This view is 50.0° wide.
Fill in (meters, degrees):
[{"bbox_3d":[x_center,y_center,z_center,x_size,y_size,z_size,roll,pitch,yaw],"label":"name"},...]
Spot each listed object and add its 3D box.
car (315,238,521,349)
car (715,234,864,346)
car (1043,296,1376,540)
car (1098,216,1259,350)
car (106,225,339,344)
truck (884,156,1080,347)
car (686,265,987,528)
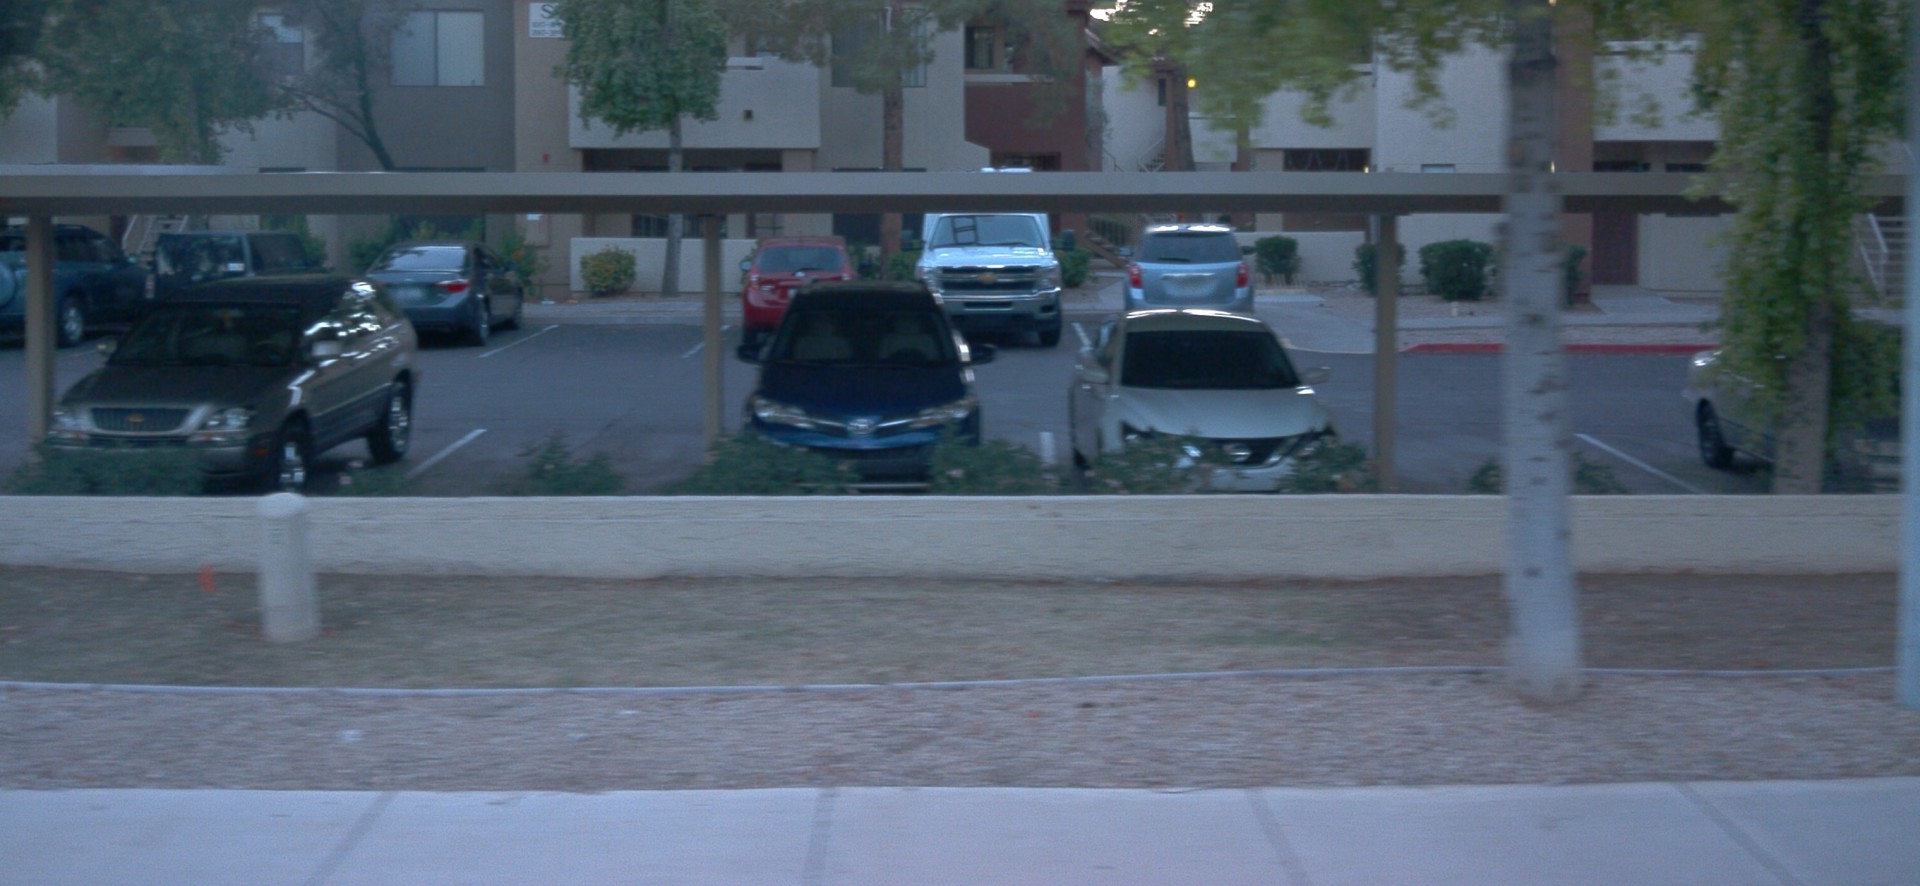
[{"bbox_3d":[-7.794,-2.238,30.041,1.999,1.483,4.393,0,5,-2],"label":"car"},{"bbox_3d":[-2.426,-2.300,30.234,2.026,1.523,4.103,0,5,-3],"label":"car"},{"bbox_3d":[1.855,-0.349,16.915,2.068,1.553,4.855,0,5,-1],"label":"car"},{"bbox_3d":[3.136,-2.391,29.940,2.147,1.783,4.493,0,5,5],"label":"car"},{"bbox_3d":[-10.746,-2.395,30.345,1.787,1.623,4.164,0,5,2],"label":"car"},{"bbox_3d":[0.292,-2.890,30.776,2.642,2.560,6.056,0,5,0],"label":"truck"},{"bbox_3d":[-0.885,-0.520,16.909,2.146,1.793,4.451,0,5,0],"label":"car"}]
